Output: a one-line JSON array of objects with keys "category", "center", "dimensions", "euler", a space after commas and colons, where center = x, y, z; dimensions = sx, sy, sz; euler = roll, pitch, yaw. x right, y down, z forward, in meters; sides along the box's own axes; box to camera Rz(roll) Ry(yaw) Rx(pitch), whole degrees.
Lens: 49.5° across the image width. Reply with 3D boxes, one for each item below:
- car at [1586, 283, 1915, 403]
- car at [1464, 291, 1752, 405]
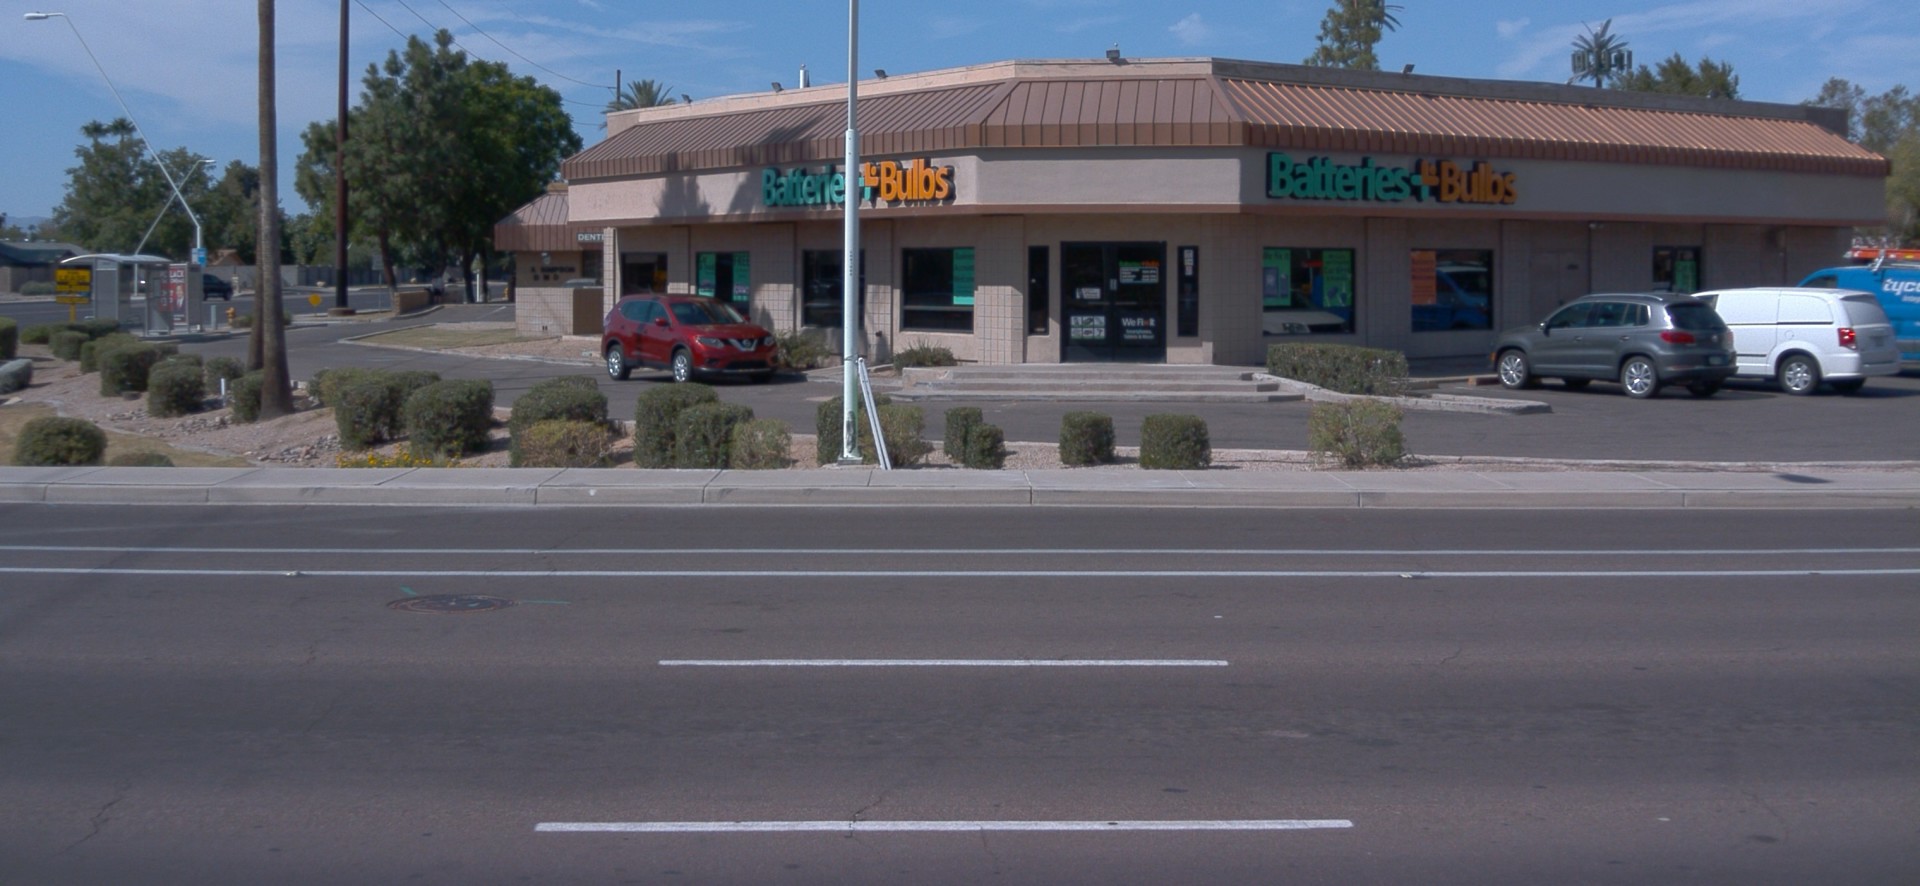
[{"category": "car", "center": [13.402, -1.777, 35.537], "dimensions": [2.099, 1.836, 4.810], "euler": [-3, 5, -43]}, {"category": "car", "center": [10.620, -1.637, 34.431], "dimensions": [1.956, 1.676, 4.282], "euler": [-2, 5, -33]}]
